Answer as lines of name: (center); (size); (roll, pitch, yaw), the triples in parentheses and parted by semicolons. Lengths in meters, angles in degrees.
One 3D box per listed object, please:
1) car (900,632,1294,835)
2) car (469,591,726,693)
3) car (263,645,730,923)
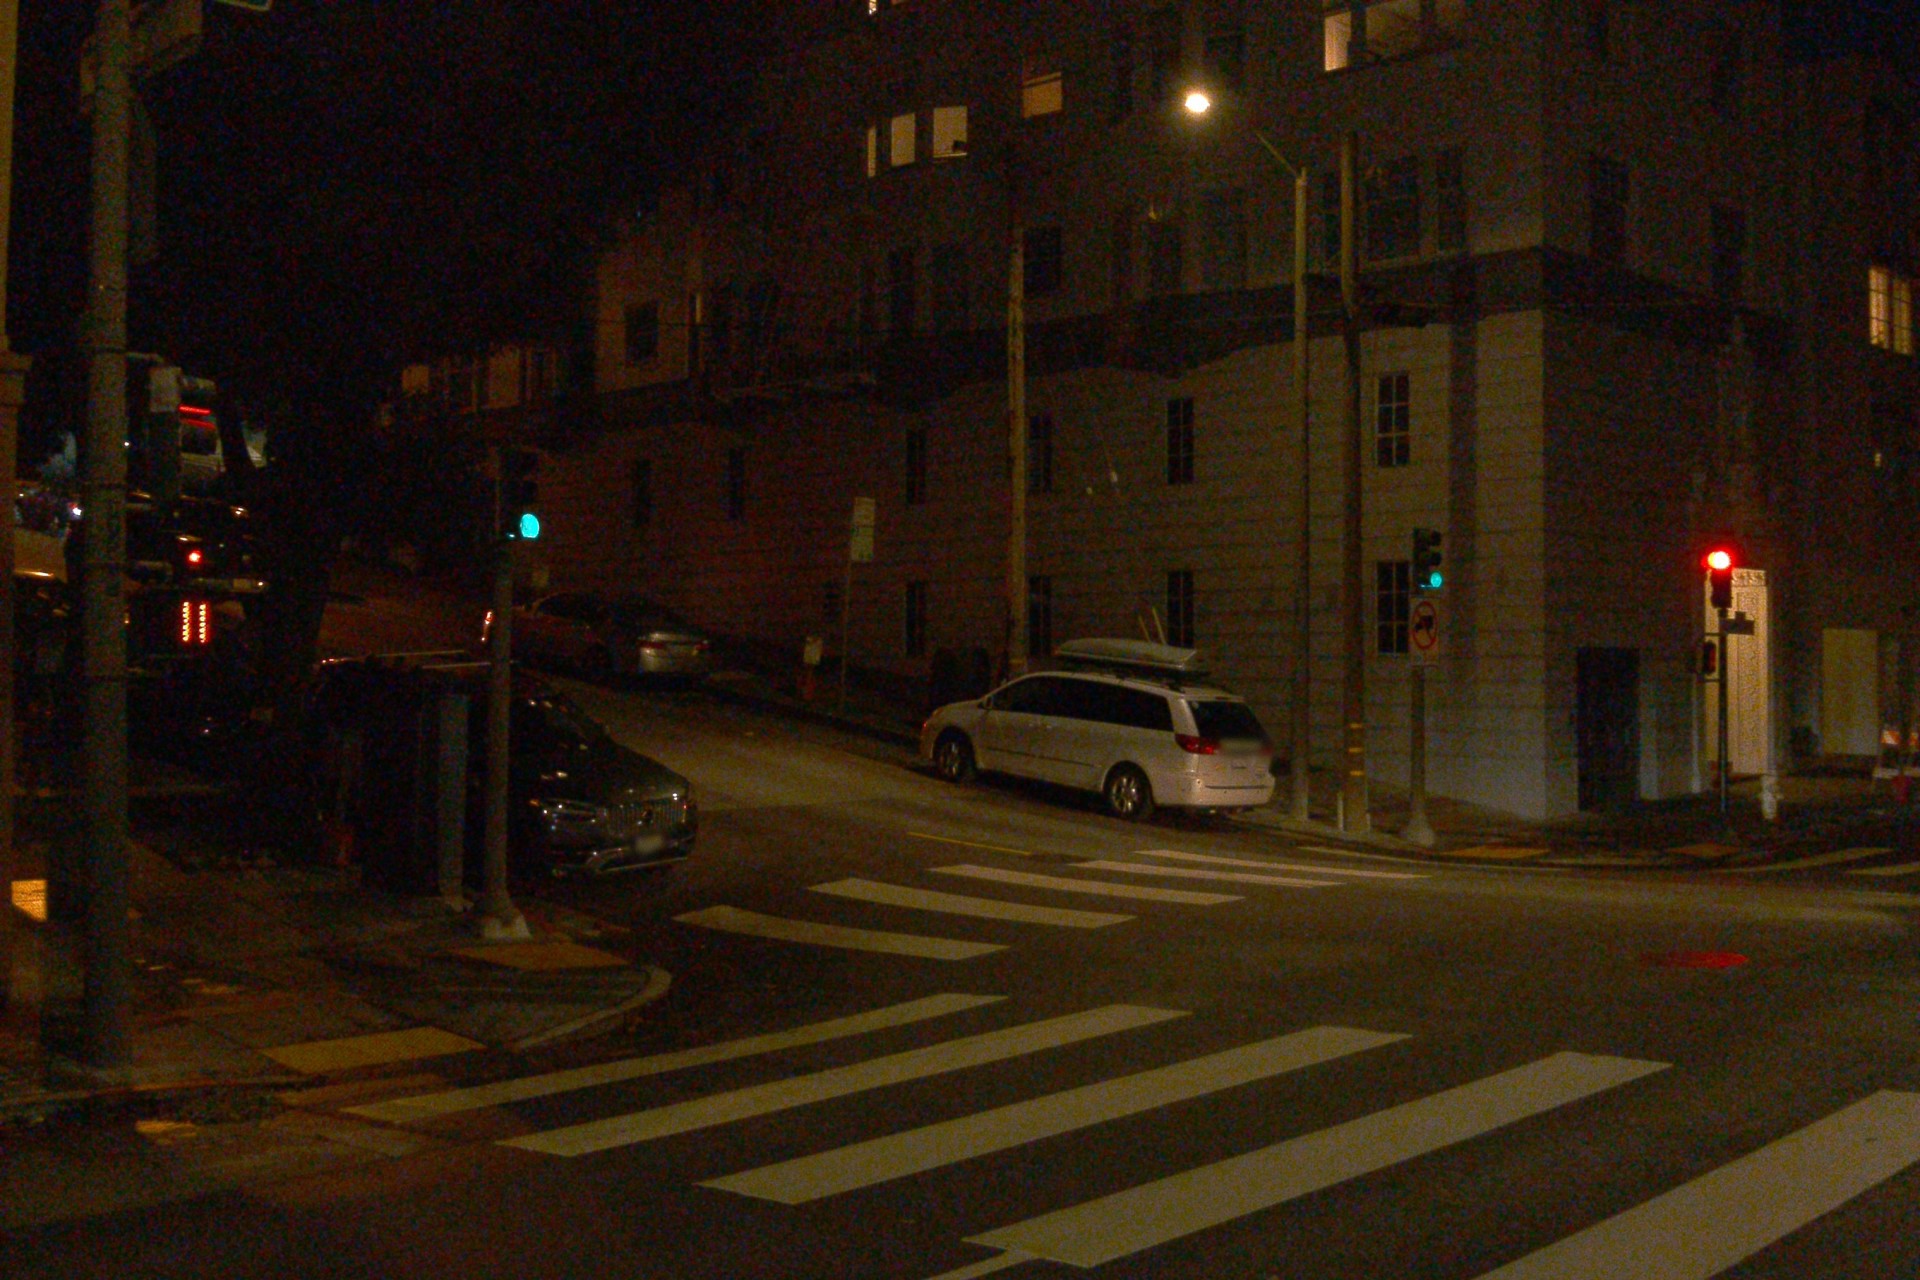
car: (1.729, 1.121, 27.136); (4.904, 2.388, 2.213); (1, 1, 44)
car: (-6.222, 0.003, 34.847); (4.539, 1.626, 1.925); (1, 1, 42)
car: (-4.592, 1.228, 19.807); (2.195, 2.290, 4.784); (0, 1, -44)
